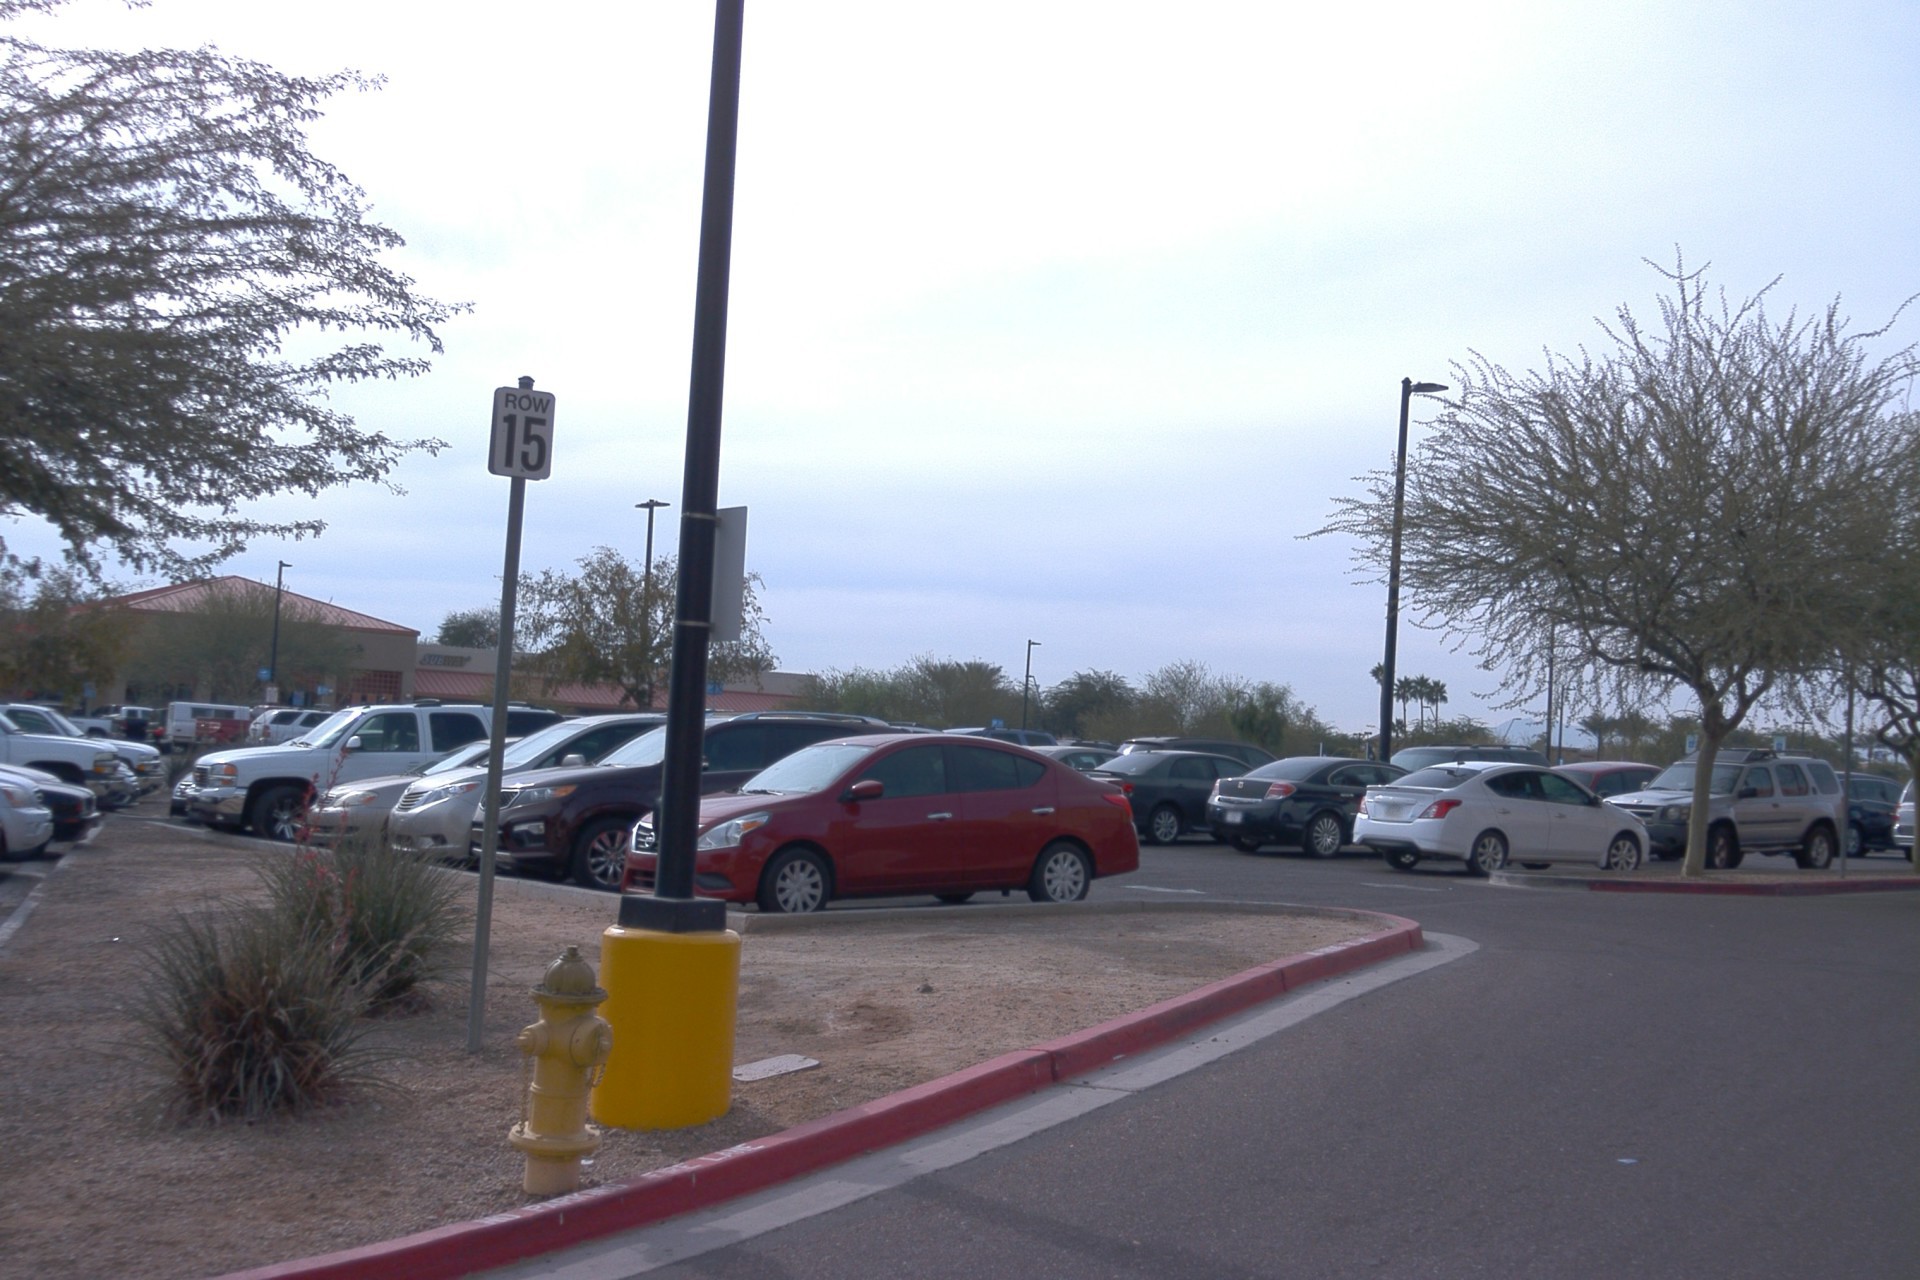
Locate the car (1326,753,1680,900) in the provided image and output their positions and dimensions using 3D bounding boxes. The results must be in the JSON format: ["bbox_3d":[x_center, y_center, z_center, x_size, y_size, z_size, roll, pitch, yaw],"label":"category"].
[{"bbox_3d":[7.349,2.430,27.943,4.546,1.680,2.162,2,-1,-35],"label":"car"}]

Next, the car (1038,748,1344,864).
[{"bbox_3d":[3.684,2.556,32.772,4.542,1.580,2.091,2,-1,-36],"label":"car"}]

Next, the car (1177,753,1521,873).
[{"bbox_3d":[5.804,2.500,30.753,4.910,1.500,2.131,2,-1,-34],"label":"car"}]

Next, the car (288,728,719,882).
[{"bbox_3d":[-5.400,1.893,24.704,4.585,1.610,2.030,2,-1,-30],"label":"car"}]

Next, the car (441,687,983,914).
[{"bbox_3d":[-2.369,1.468,20.337,4.723,1.930,2.278,2,-1,-36],"label":"car"}]

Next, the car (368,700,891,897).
[{"bbox_3d":[-3.548,1.638,22.569,5.122,1.870,2.258,2,-1,-31],"label":"car"}]

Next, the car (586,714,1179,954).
[{"bbox_3d":[-0.553,1.488,17.218,4.602,1.680,1.958,2,-1,-37],"label":"car"}]

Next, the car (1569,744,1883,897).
[{"bbox_3d":[11.398,2.592,30.753,4.784,1.980,2.064,2,-1,-36],"label":"car"}]

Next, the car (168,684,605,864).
[{"bbox_3d":[-7.407,1.664,26.898,4.962,2.090,2.379,2,-1,-31],"label":"car"}]
